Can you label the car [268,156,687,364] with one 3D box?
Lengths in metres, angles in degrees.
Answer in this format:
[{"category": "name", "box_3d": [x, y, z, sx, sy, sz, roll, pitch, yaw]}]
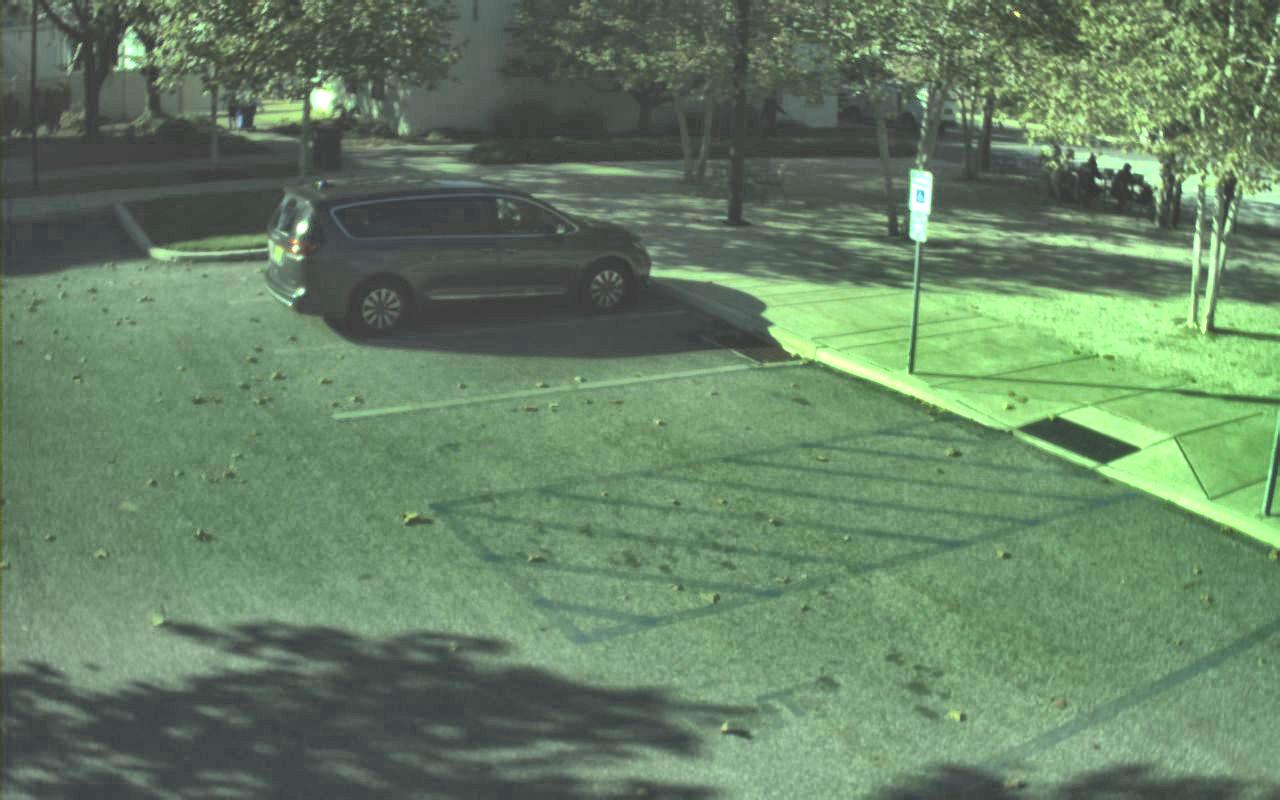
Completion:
[{"category": "car", "box_3d": [-2.067, -1.927, 15.884, 4.967, 1.813, 2.078, -10, 19, -29]}]
